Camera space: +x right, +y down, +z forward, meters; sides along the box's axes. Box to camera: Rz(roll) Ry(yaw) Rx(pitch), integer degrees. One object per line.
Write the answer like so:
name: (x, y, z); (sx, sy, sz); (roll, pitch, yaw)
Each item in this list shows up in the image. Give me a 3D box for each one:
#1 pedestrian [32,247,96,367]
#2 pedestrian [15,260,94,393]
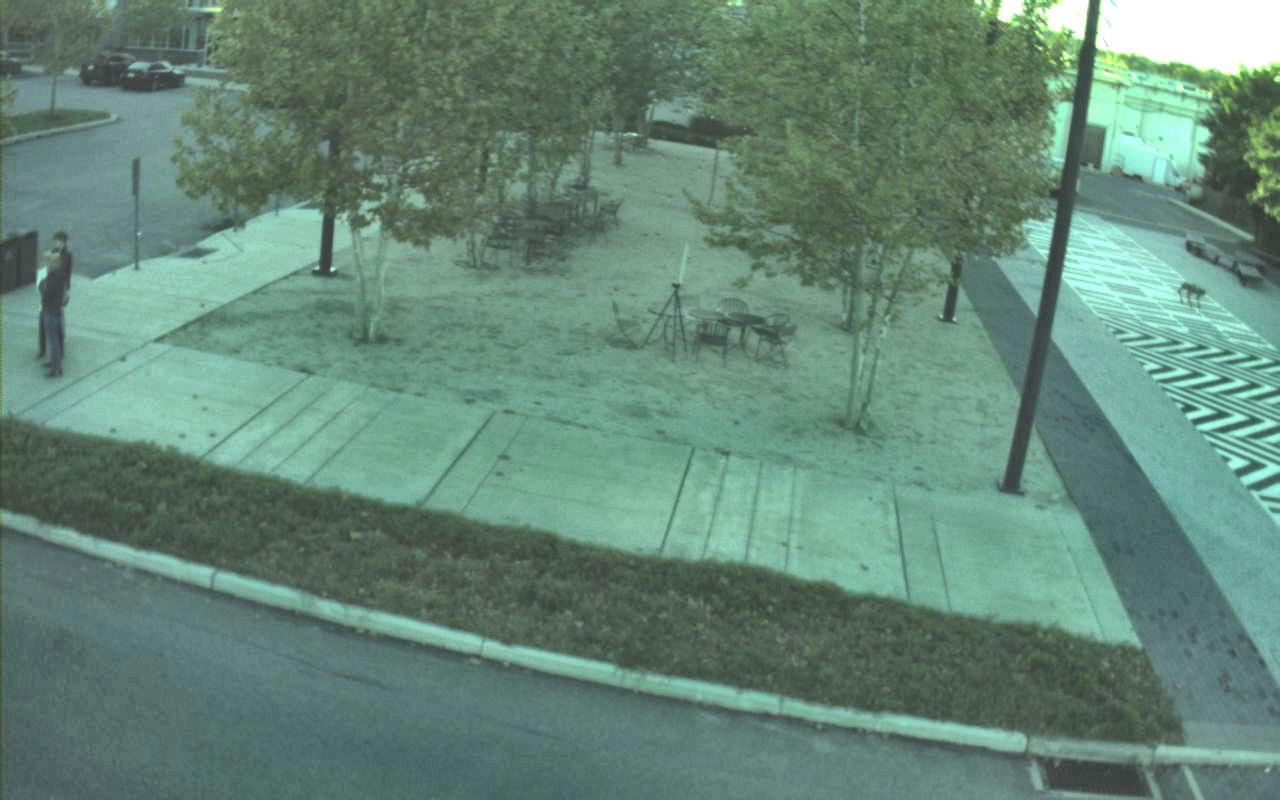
pedestrian: (-9.336, -1.458, 18.471); (0.686, 1.769, 0.704); (9, 18, 33)
pedestrian: (-8.838, -1.070, 17.151); (0.770, 1.835, 0.763); (3, 16, 17)
